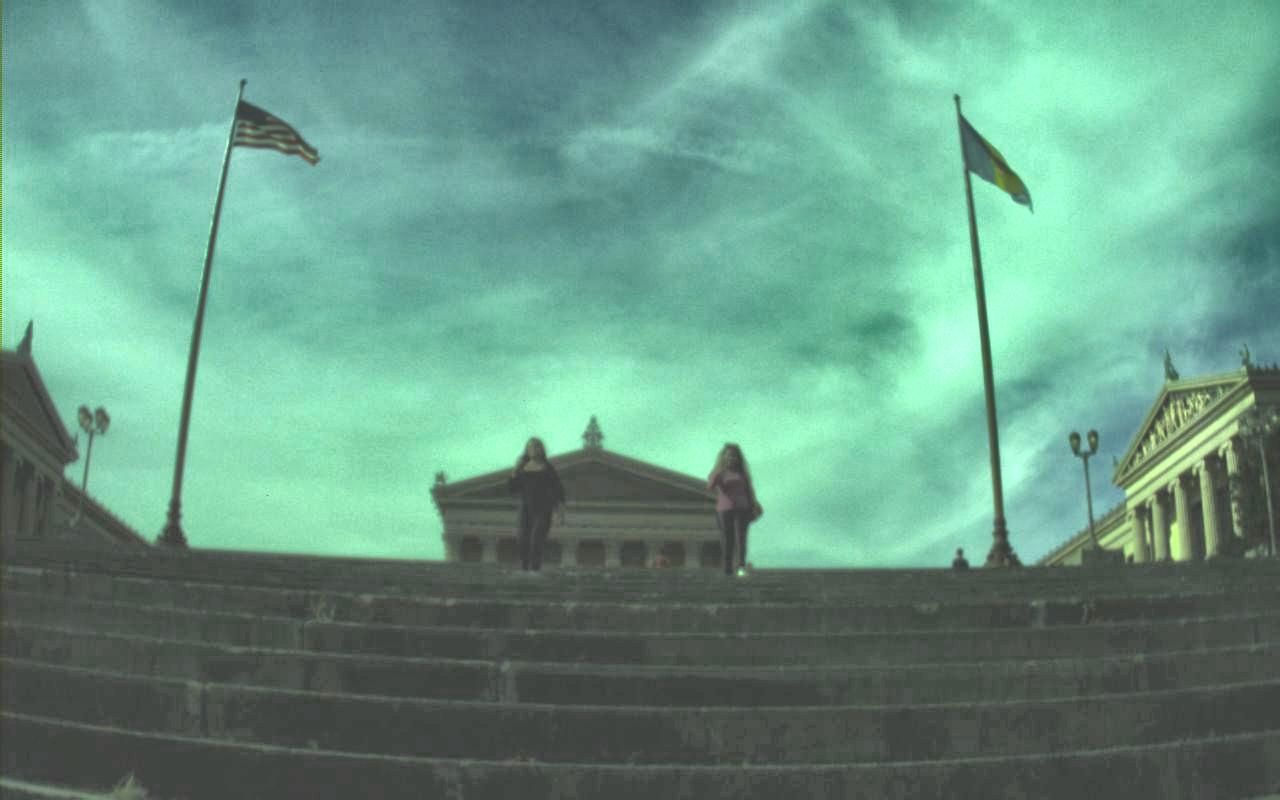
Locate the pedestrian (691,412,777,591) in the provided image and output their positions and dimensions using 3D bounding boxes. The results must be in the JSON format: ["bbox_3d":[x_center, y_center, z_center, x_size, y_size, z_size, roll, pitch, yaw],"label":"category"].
[{"bbox_3d":[0.961,1.036,13.026,0.779,1.783,0.801,0,0,-3],"label":"pedestrian"}]

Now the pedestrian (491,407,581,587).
[{"bbox_3d":[-1.100,1.011,13.404,0.792,1.838,0.798,0,0,9],"label":"pedestrian"}]
